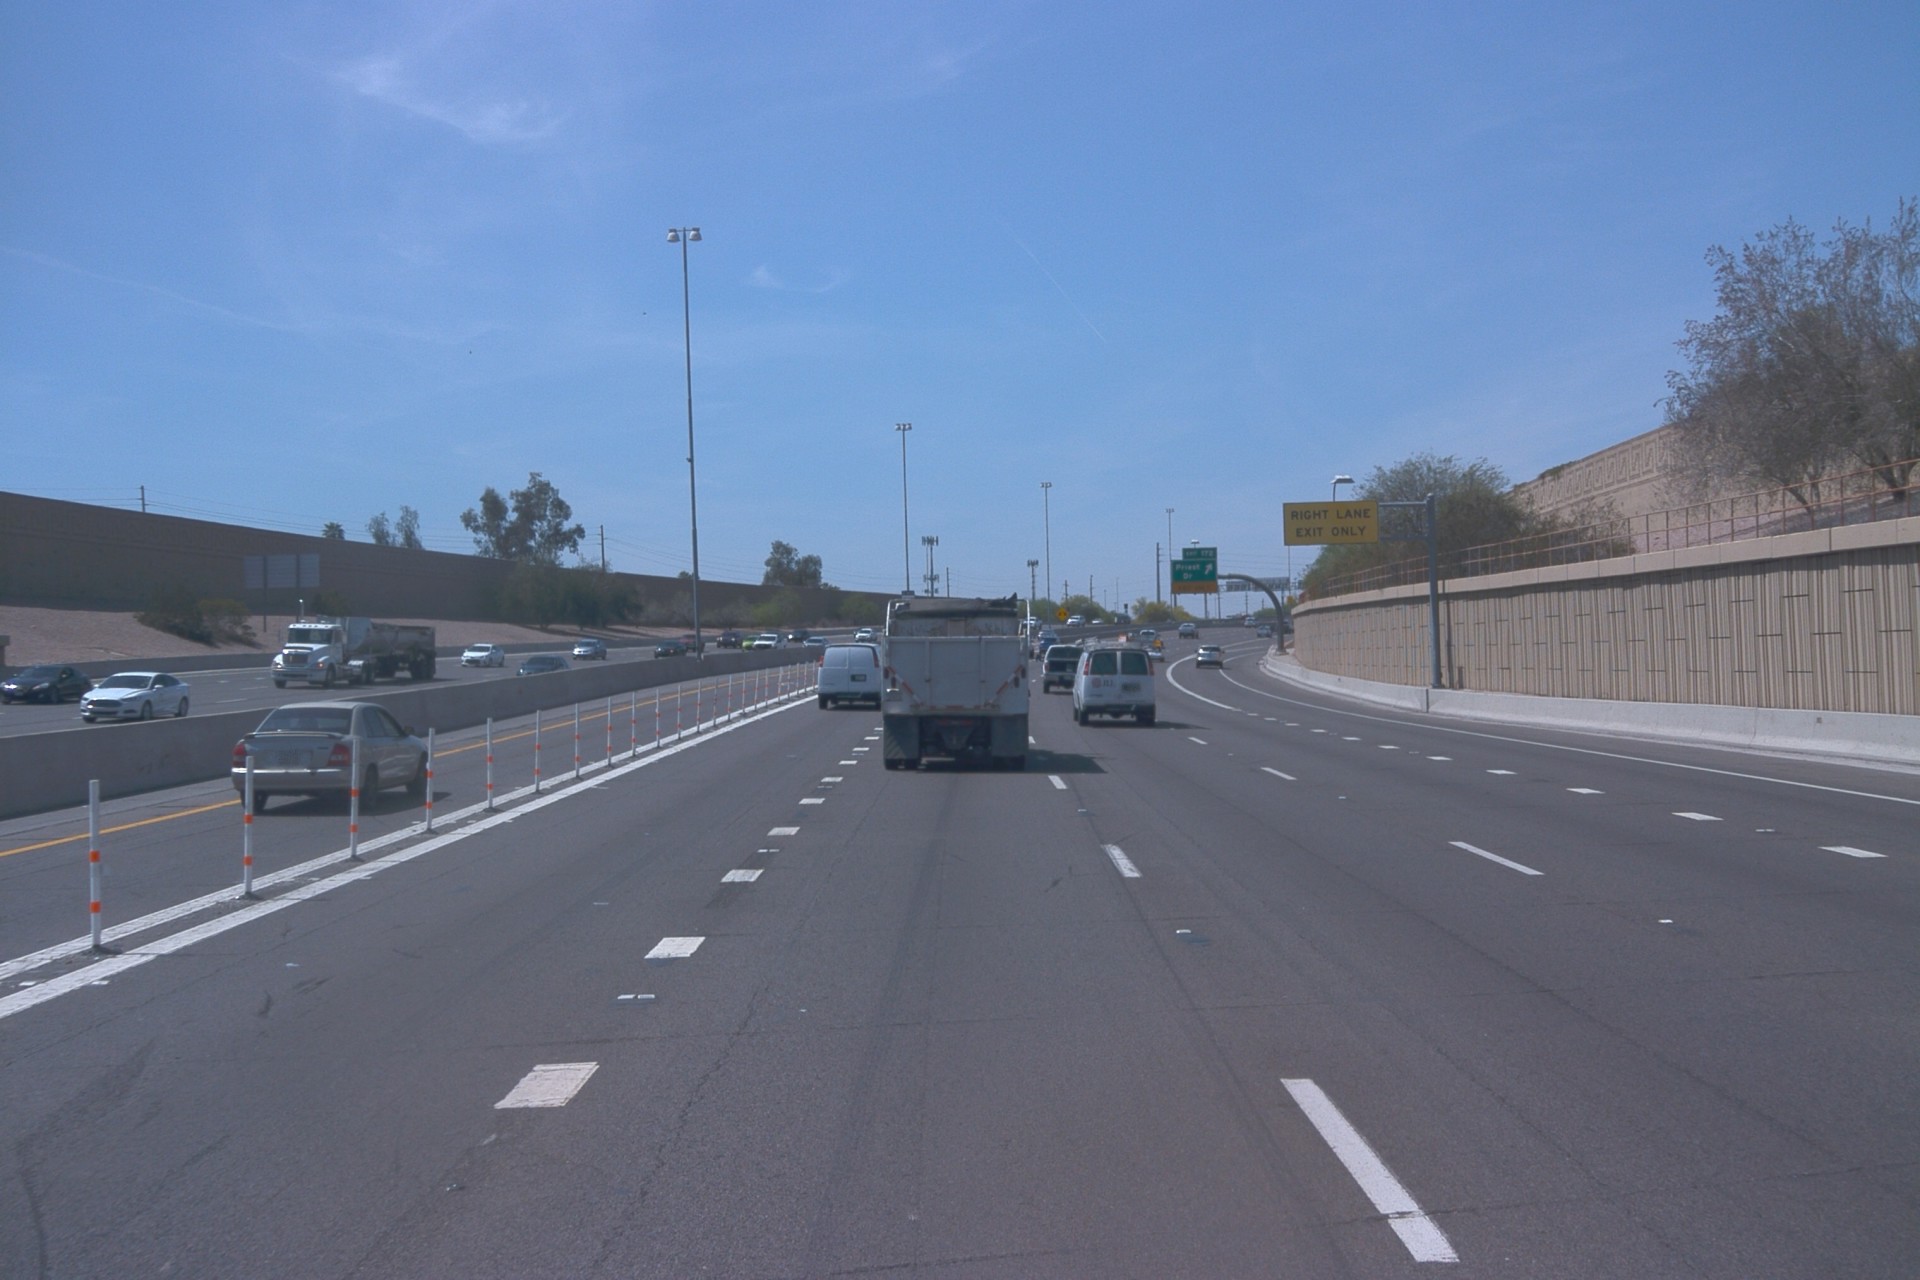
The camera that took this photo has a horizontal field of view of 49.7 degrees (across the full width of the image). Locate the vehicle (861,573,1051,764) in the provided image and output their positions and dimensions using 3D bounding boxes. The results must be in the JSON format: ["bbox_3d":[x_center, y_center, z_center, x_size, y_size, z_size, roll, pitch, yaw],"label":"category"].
[{"bbox_3d":[-0.015,0.492,37.607,3.162,3.170,6.477,0,0,1],"label":"vehicle"}]

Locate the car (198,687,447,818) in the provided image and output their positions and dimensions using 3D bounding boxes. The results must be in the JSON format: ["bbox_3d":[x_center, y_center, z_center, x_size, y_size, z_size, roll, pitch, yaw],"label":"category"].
[{"bbox_3d":[-8.591,1.463,28.367,1.935,1.560,4.737,0,0,0],"label":"car"}]
